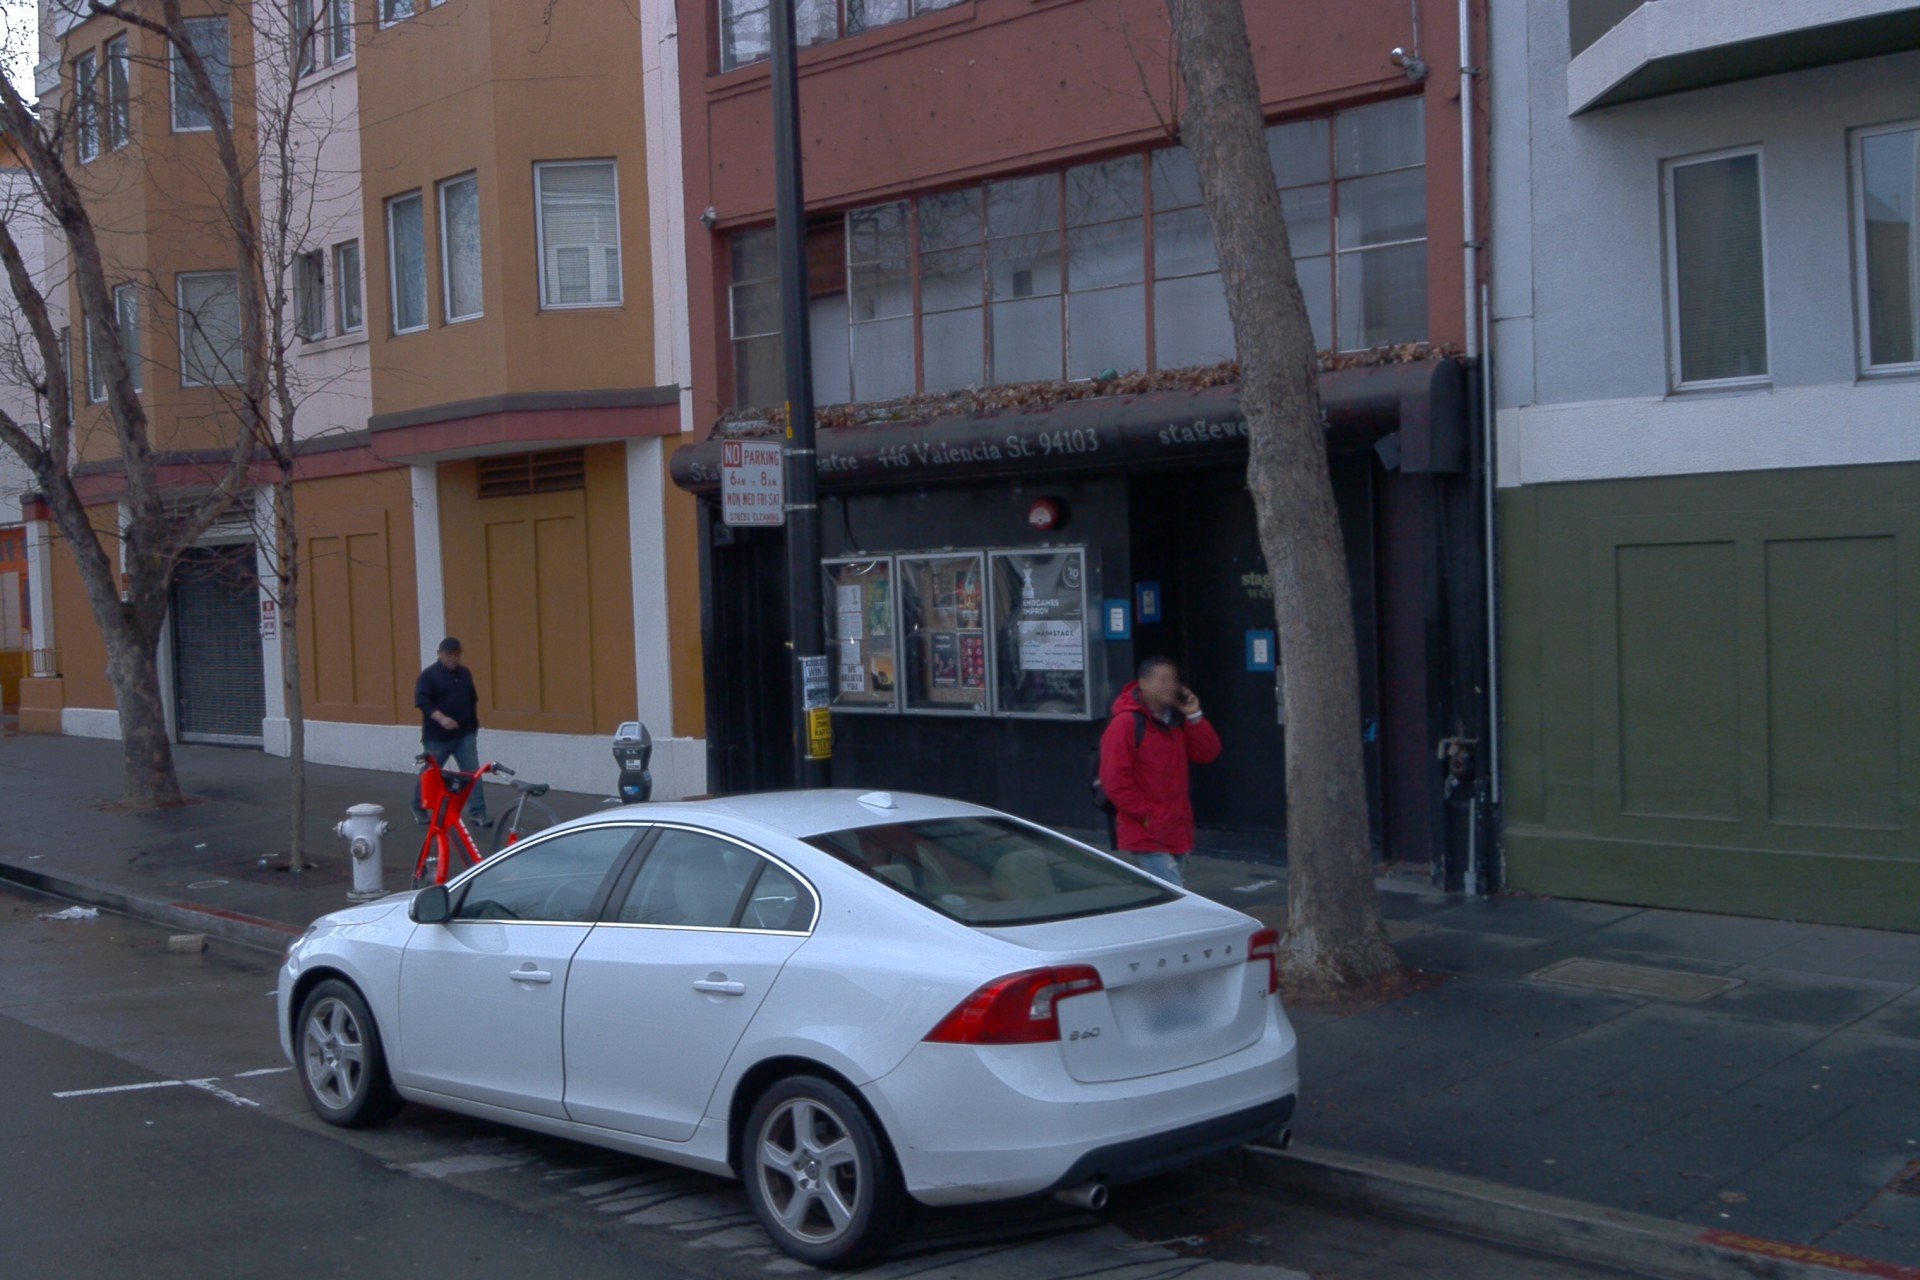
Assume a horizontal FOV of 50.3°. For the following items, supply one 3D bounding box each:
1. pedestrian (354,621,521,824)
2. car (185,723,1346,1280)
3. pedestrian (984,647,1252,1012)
[{"bbox_3d":[-4.505,0.683,17.637,1.055,1.680,0.973,1,1,45],"label":"pedestrian"},{"bbox_3d":[-1.016,1.218,8.319,4.657,1.530,2.080,1,0,42],"label":"car"},{"bbox_3d":[0.791,0.894,10.291,1.009,1.707,0.856,1,1,45],"label":"pedestrian"}]
